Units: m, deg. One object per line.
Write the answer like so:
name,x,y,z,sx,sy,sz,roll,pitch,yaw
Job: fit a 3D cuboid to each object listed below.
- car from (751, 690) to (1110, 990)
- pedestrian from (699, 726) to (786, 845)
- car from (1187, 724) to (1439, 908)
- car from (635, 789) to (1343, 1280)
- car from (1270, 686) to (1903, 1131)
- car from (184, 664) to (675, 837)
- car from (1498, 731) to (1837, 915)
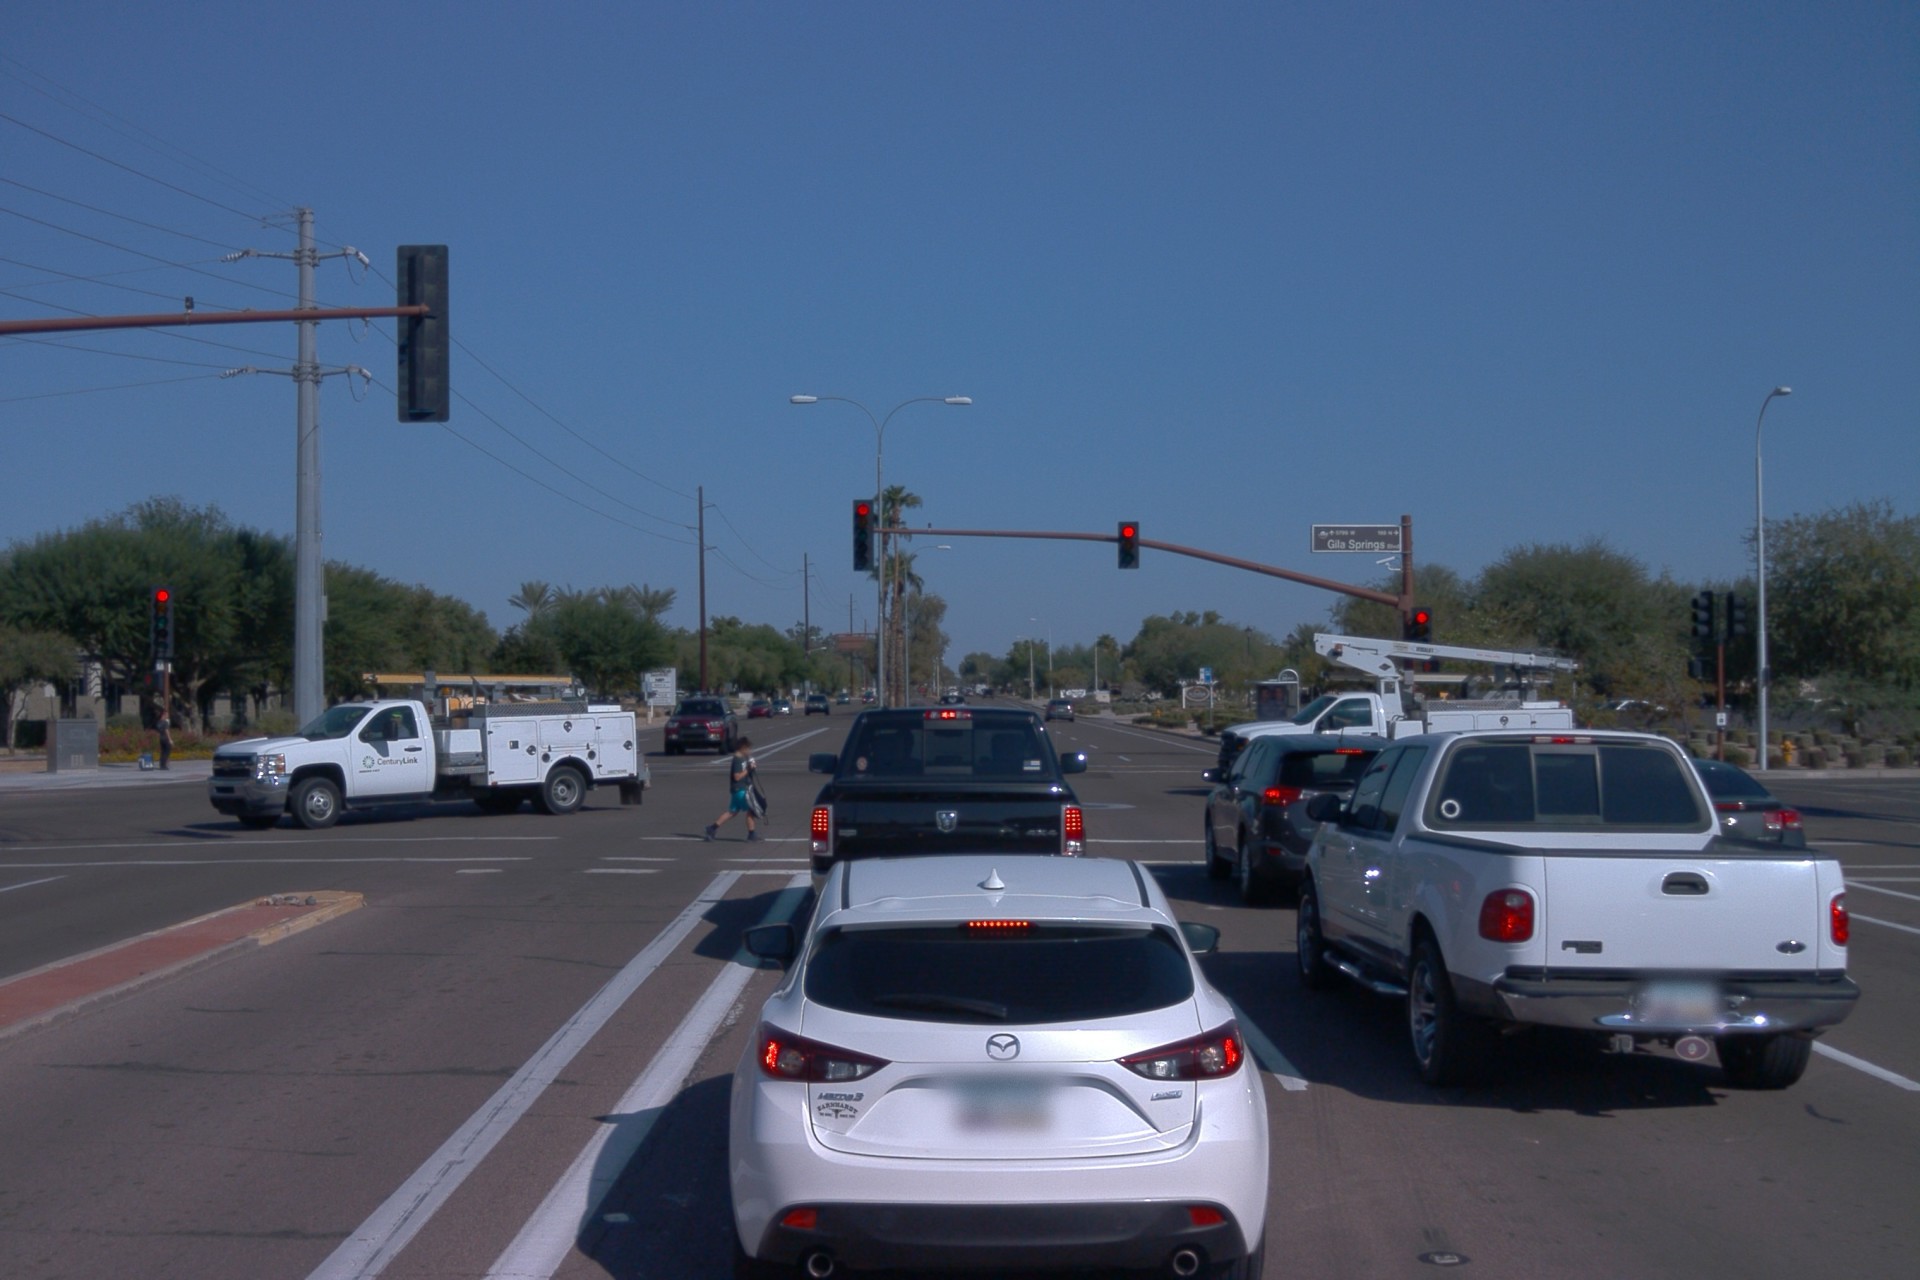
car,-0.133,1.460,17.013,2.500,2.080,5.001,0,-1,2
pedestrian,-2.853,1.905,27.437,1.087,1.530,0.743,0,-1,-2
car,3.480,1.704,21.281,1.789,1.630,4.213,0,-1,-1
car,0.088,1.513,8.496,2.099,1.600,4.628,0,-1,0
car,3.332,1.327,12.466,2.073,2.070,5.518,0,-1,-1
car,-8.222,1.659,32.822,6.868,2.440,3.041,1,-2,-43
car,6.820,1.714,20.610,1.828,1.540,4.447,0,-1,0
